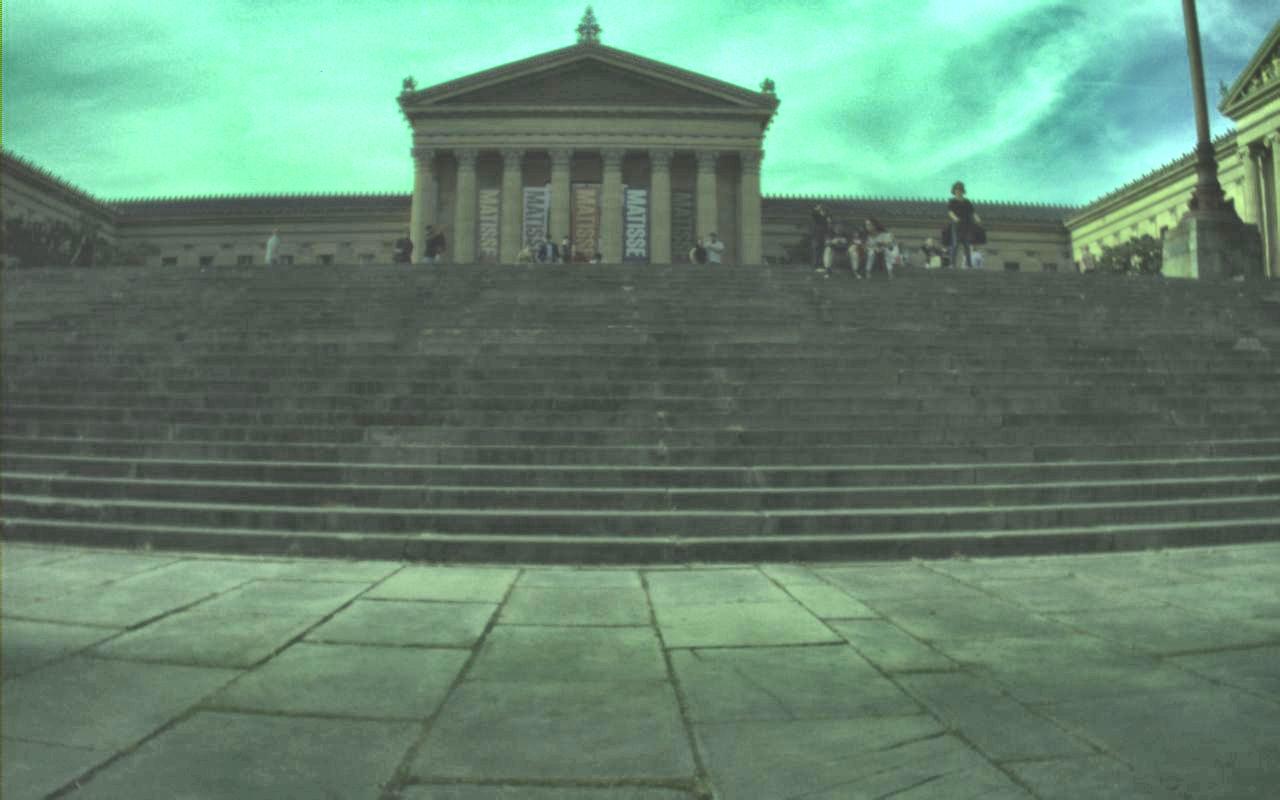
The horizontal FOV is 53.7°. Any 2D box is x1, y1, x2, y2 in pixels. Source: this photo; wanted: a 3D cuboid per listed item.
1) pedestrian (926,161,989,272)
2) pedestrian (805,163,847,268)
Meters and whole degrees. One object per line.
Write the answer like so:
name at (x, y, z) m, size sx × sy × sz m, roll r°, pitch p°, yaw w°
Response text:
pedestrian at (5.637, -3.224, 21.765) m, size 0.800 × 1.860 × 0.783 m, roll 0°, pitch 0°, yaw -41°
pedestrian at (3.109, -3.076, 20.868) m, size 0.672 × 1.693 × 0.671 m, roll 0°, pitch 0°, yaw 8°
